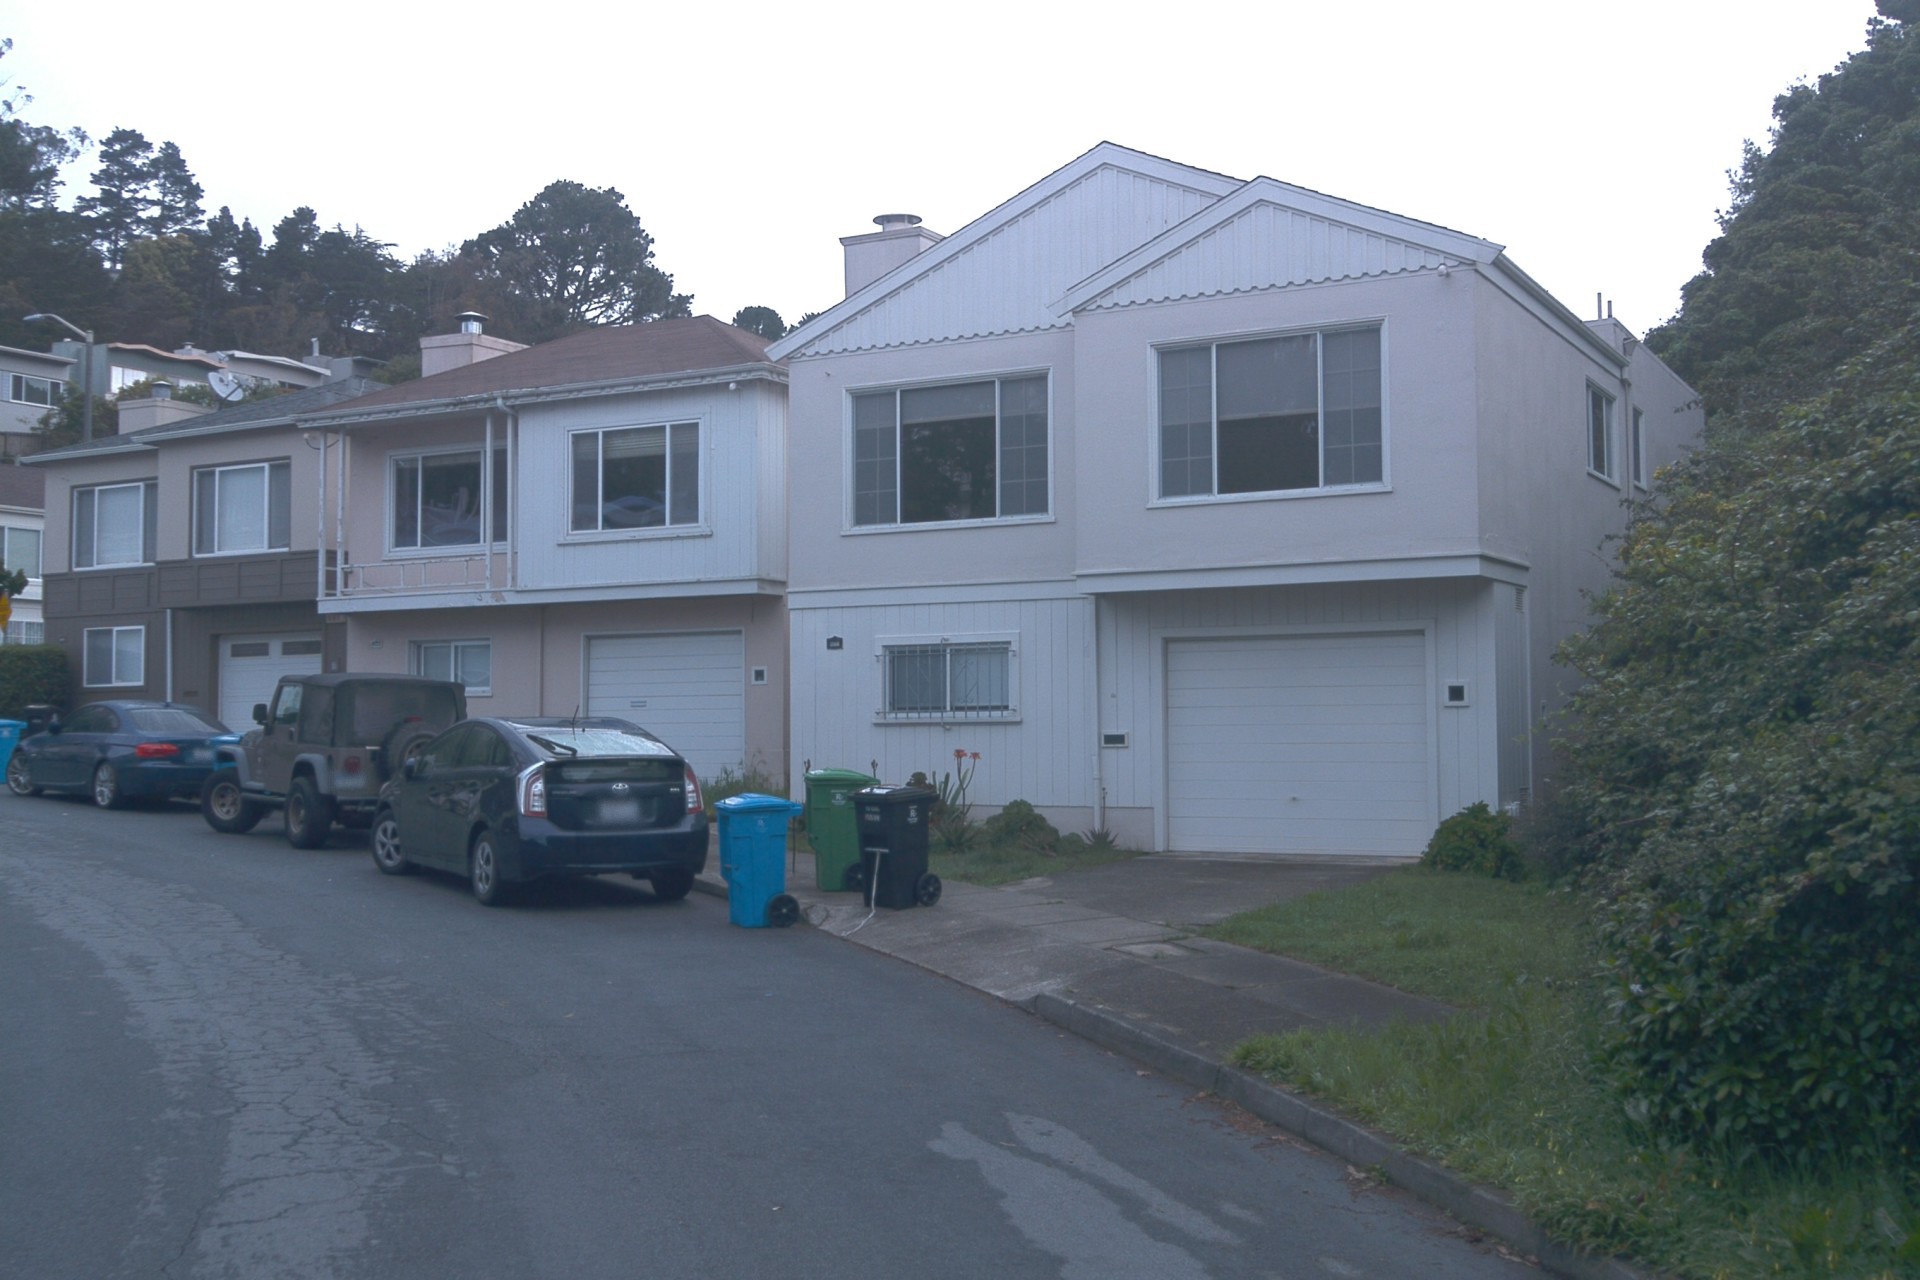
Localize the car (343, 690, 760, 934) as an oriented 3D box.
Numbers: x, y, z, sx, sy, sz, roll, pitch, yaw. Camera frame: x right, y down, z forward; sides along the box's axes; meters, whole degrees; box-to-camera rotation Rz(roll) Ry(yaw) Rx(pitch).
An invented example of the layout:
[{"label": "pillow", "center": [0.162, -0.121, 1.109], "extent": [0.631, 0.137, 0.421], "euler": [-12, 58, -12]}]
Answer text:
[{"label": "car", "center": [-3.678, 1.347, 17.957], "extent": [2.070, 1.739, 4.478], "euler": [0, 0, -32]}]

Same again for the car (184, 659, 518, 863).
[{"label": "car", "center": [-6.668, 1.199, 22.428], "extent": [2.123, 1.973, 4.027], "euler": [0, 0, -38]}]
